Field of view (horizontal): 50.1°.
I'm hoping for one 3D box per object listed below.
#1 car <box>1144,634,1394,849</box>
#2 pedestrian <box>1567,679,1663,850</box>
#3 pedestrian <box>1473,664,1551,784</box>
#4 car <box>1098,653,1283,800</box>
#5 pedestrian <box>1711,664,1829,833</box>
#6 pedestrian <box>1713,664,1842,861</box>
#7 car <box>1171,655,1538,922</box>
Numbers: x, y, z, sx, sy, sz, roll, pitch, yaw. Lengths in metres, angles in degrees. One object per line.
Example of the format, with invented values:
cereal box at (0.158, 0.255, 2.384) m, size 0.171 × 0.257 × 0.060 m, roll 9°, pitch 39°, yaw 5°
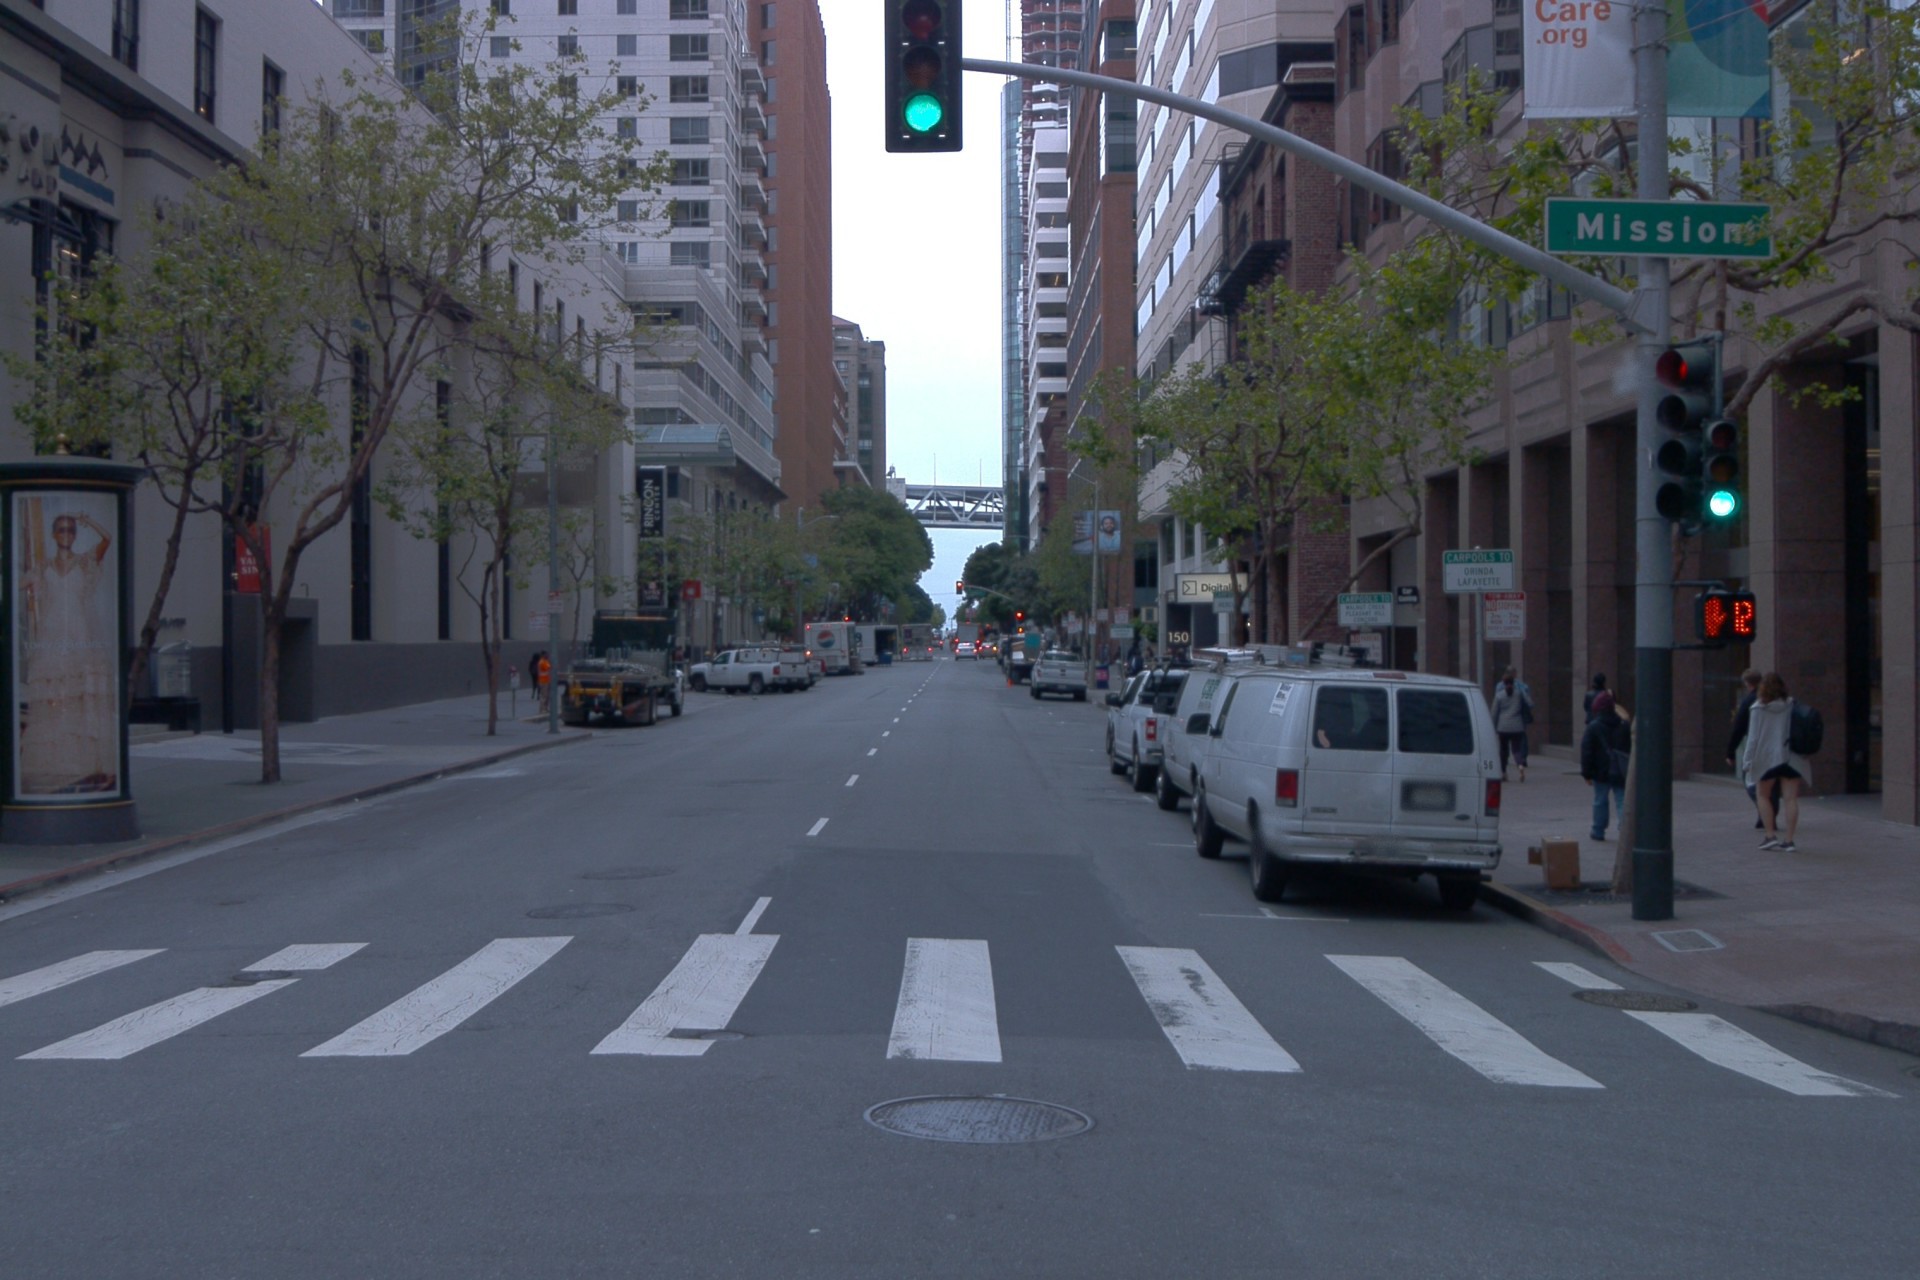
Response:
car at (3.755, 1.152, 26.108) m, size 2.273 × 2.380 × 5.495 m, roll 0°, pitch 1°, yaw -1°
pedestrian at (6.824, 1.278, 21.453) m, size 0.758 × 1.713 × 0.969 m, roll 0°, pitch 1°, yaw 5°
pedestrian at (8.053, 1.218, 30.017) m, size 0.919 × 1.696 × 0.981 m, roll 0°, pitch 1°, yaw 3°
car at (3.551, 1.280, 32.801) m, size 2.227 × 2.040 × 5.529 m, roll 0°, pitch 1°, yaw -1°
pedestrian at (8.611, 1.140, 21.900) m, size 0.855 × 1.736 × 0.998 m, roll 0°, pitch 1°, yaw 0°
pedestrian at (8.003, 1.174, 20.153) m, size 0.843 × 1.856 × 0.961 m, roll 0°, pitch 1°, yaw -3°
car at (3.563, 1.256, 19.831) m, size 2.314 × 2.100 × 5.501 m, roll 0°, pitch 1°, yaw -2°
